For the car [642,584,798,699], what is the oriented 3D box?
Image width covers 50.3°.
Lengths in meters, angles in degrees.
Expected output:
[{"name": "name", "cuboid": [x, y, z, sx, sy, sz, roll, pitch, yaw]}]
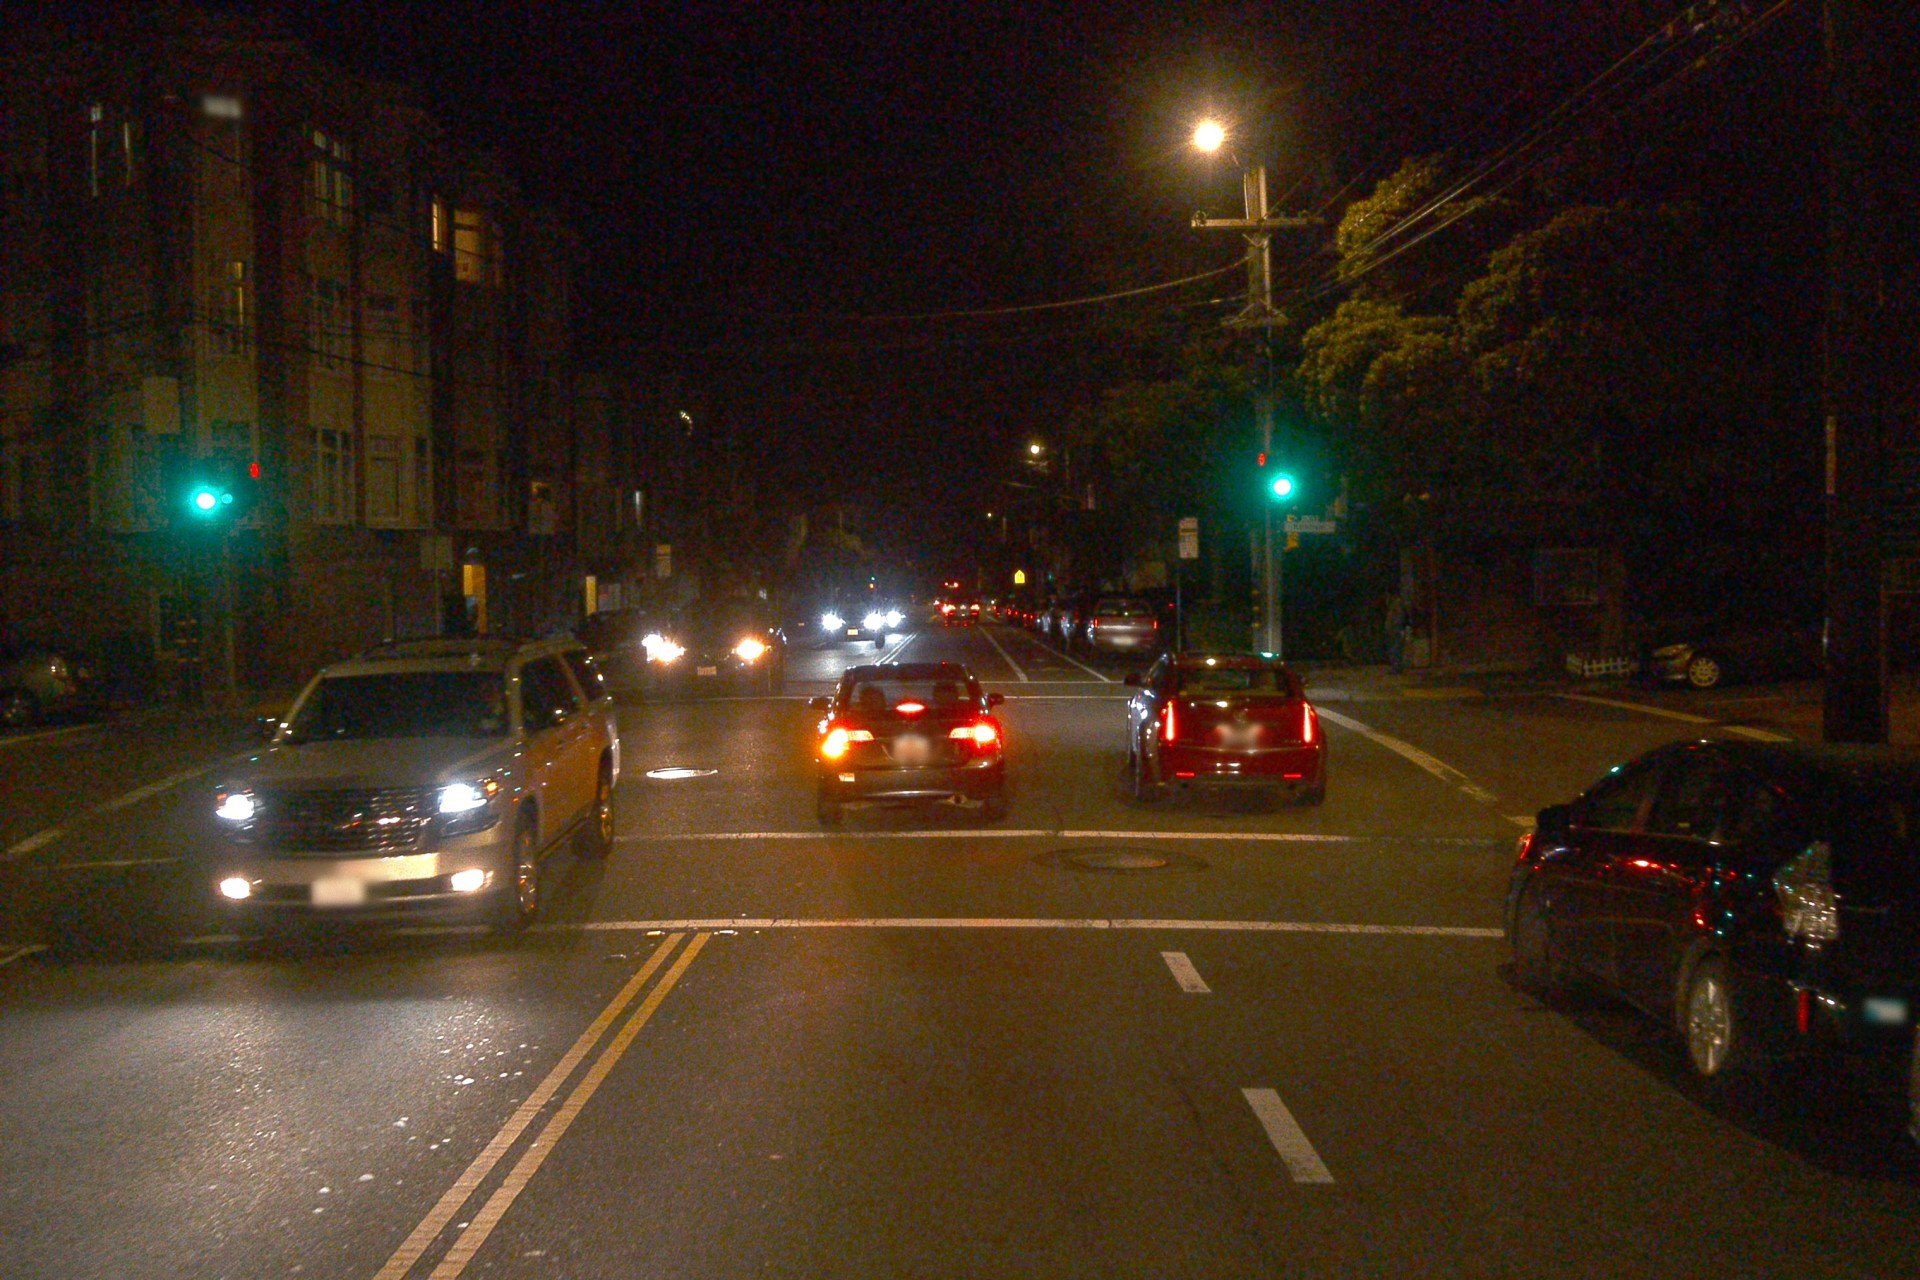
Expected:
[{"name": "car", "cuboid": [-4.021, 0.016, 35.012, 2.145, 1.820, 4.496, 1, 0, 0]}]

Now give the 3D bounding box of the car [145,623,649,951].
[{"name": "car", "cuboid": [-3.918, 0.898, 15.462, 2.281, 2.020, 5.508, 1, 0, 0]}]

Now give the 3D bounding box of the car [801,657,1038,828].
[{"name": "car", "cuboid": [-0.516, 0.924, 20.256, 2.070, 1.420, 4.589, 0, 0, -4]}]

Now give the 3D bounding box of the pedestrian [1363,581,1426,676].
[{"name": "pedestrian", "cuboid": [7.813, -0.205, 36.772, 0.936, 1.691, 0.623, 0, 0, -10]}]

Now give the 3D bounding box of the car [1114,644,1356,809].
[{"name": "car", "cuboid": [2.733, 0.813, 21.307, 2.067, 1.490, 4.417, 1, 0, 2]}]
